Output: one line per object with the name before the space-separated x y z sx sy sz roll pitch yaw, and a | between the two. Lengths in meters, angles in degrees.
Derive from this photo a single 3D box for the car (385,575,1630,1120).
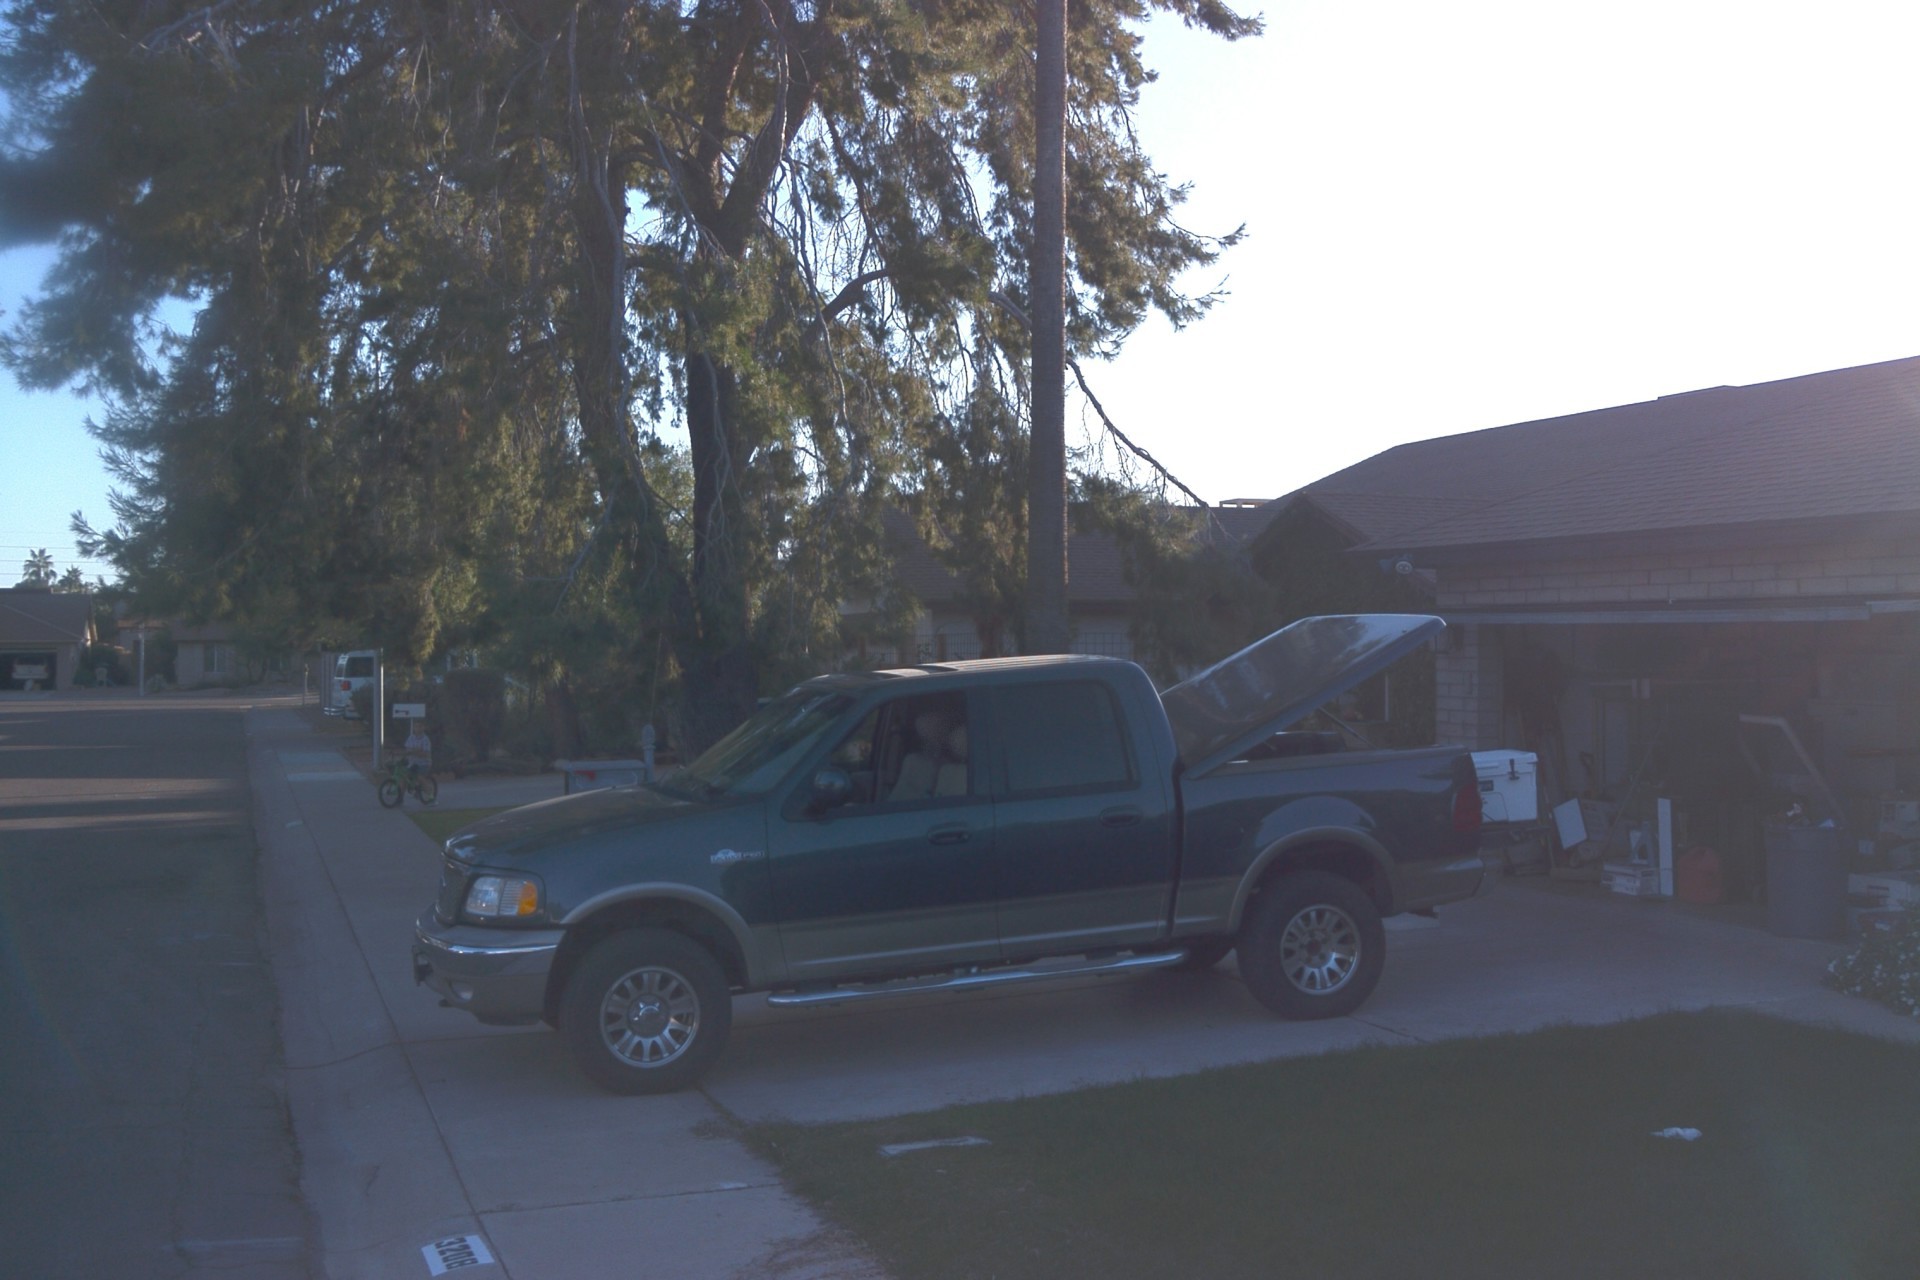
car | 0.214 0.926 11.145 6.233 2.360 2.443 0 -1 -19

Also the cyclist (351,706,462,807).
cyclist | -7.364 1.531 27.589 0.763 1.280 1.282 0 -1 27
